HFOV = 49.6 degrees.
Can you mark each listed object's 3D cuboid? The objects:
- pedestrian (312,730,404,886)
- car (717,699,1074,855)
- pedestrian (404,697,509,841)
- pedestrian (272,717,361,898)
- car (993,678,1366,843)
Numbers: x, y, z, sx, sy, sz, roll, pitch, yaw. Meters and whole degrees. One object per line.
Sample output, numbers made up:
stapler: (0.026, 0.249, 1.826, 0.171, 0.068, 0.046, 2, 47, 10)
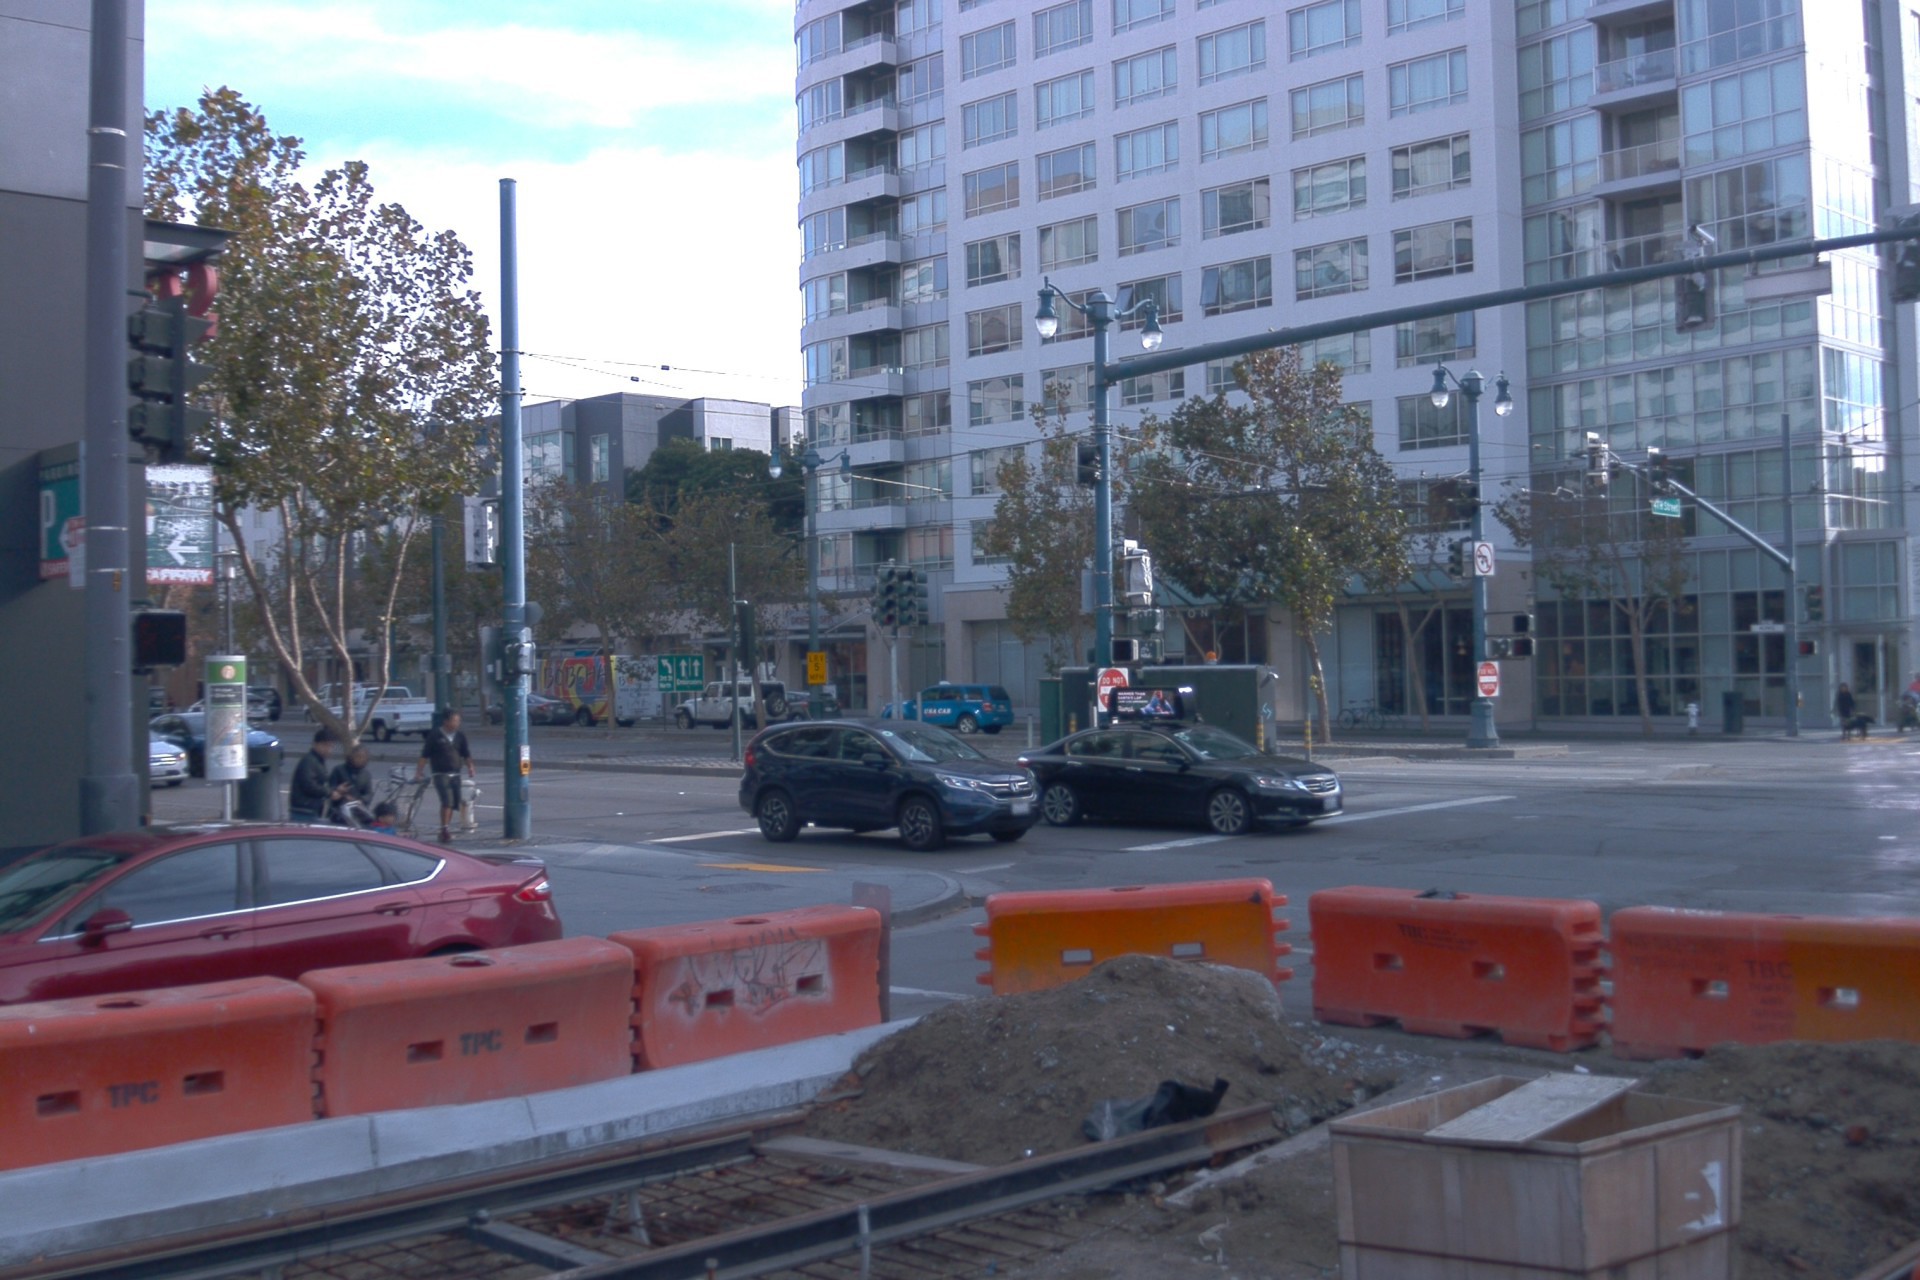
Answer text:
pedestrian: (-5.909, 1.631, 20.383, 0.660, 1.460, 0.723, 1, -1, -33)
car: (-0.930, 1.738, 27.679, 4.616, 1.792, 2.053, 0, -1, 42)
pedestrian: (-6.672, 1.682, 27.556, 0.942, 1.830, 0.981, 0, -1, 43)
pedestrian: (-6.151, 1.581, 19.884, 0.768, 1.660, 0.746, 0, -1, -14)
car: (2.958, 1.571, 28.797, 4.947, 2.035, 1.963, 0, -1, 43)
